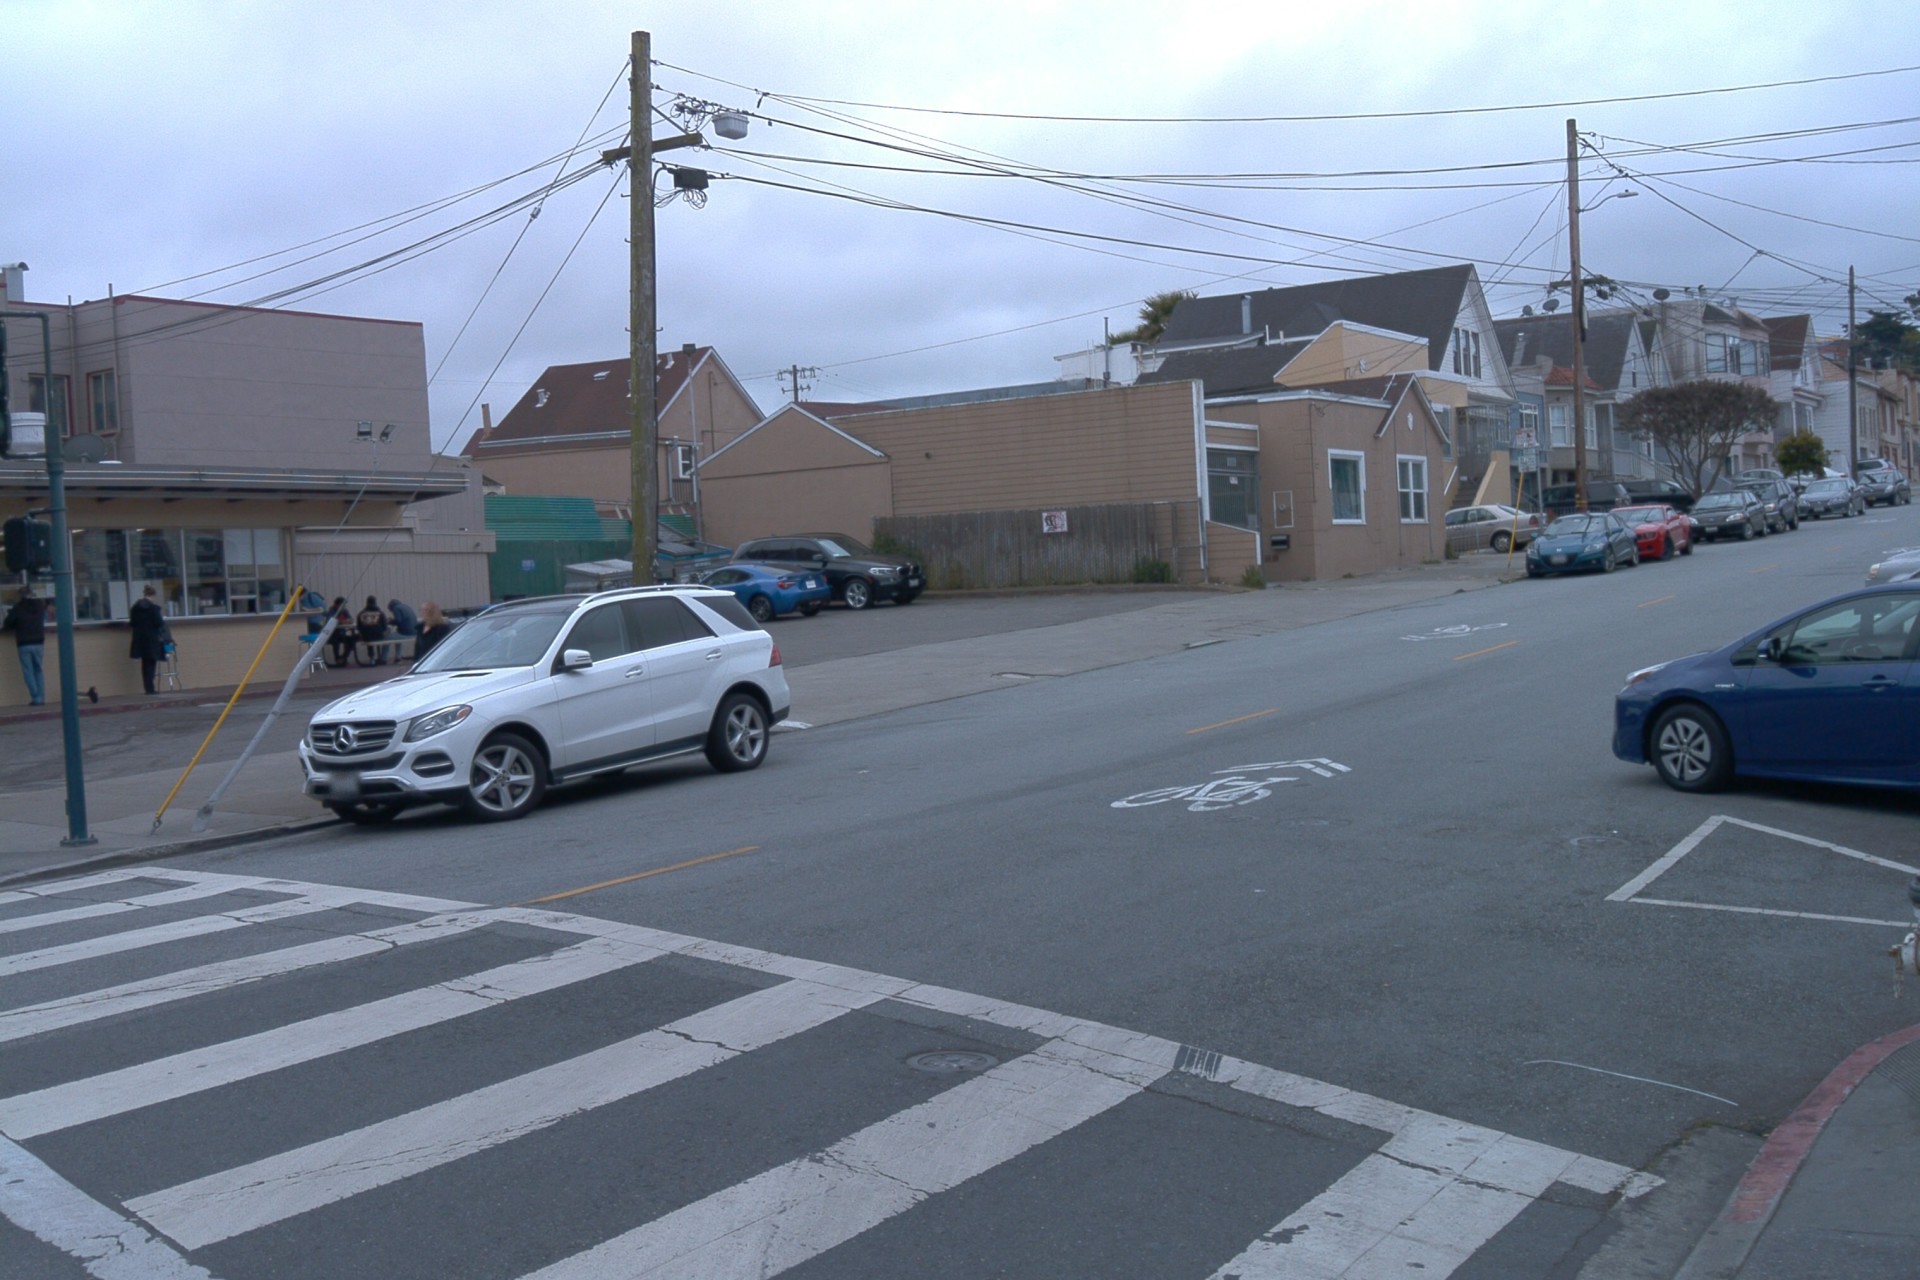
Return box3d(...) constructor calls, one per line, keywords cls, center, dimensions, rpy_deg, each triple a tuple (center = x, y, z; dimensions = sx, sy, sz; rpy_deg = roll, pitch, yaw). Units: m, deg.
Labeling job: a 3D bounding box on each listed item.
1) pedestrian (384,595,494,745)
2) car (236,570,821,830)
box3d(cls="pedestrian", center=(-5.921, 0.328, 23.494), dimensions=(0.829, 1.670, 0.886), rpy_deg=(0, 1, 35))
box3d(cls="car", center=(-3.604, 0.429, 18.219), dimensions=(2.251, 1.960, 4.887), rpy_deg=(0, 1, 33))
